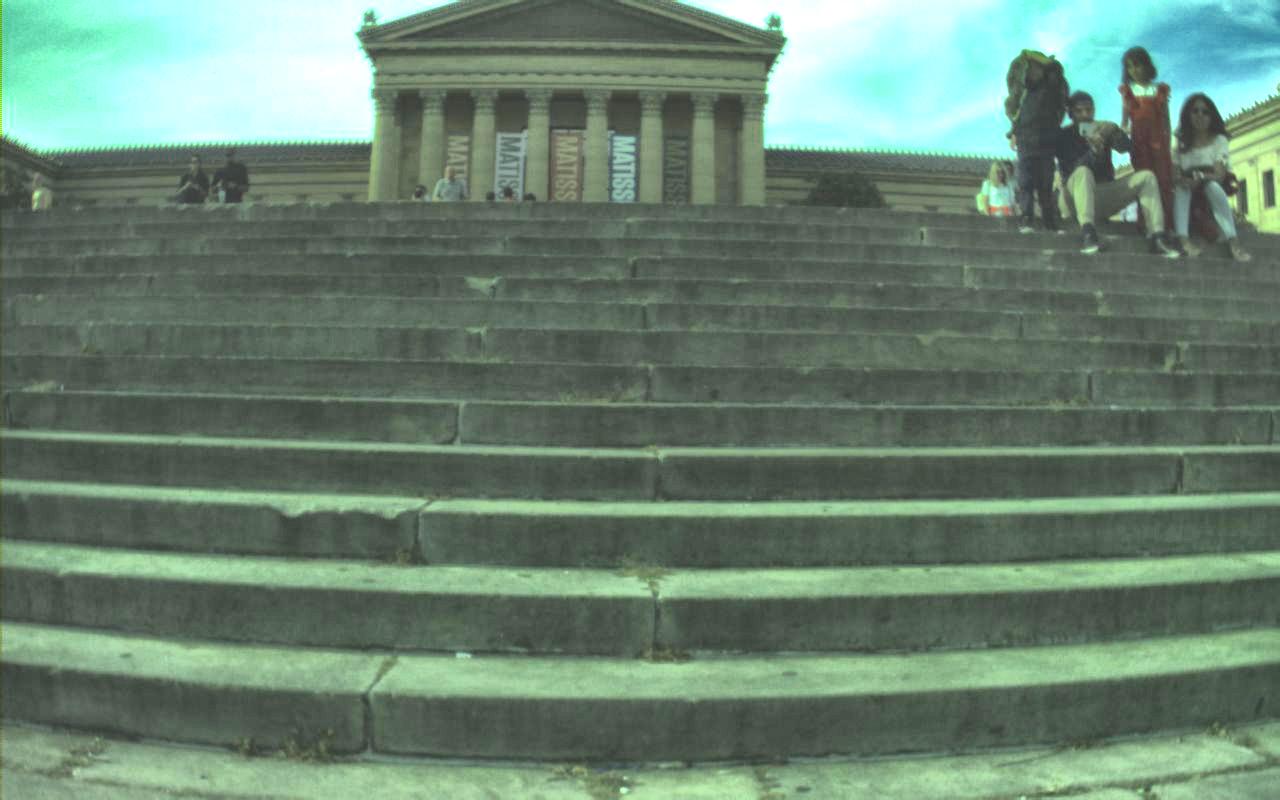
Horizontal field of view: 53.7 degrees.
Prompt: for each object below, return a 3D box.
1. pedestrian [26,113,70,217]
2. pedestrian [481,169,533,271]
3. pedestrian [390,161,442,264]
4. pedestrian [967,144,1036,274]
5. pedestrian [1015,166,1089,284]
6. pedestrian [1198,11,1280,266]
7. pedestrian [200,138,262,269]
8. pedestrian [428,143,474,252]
[{"bbox_3d":[-11.125,-4.327,20.968,0.701,1.872,0.697,0,0,-33],"label":"pedestrian"},{"bbox_3d":[-2.437,-3.291,22.988,0.660,1.793,0.665,1,0,29],"label":"pedestrian"},{"bbox_3d":[-4.027,-3.346,22.239,0.656,1.769,0.646,0,0,-40],"label":"pedestrian"},{"bbox_3d":[5.200,-2.719,17.533,0.805,1.776,0.801,0,0,1],"label":"pedestrian"},{"bbox_3d":[6.264,-2.617,18.318,0.801,1.681,0.812,0,0,-35],"label":"pedestrian"},{"bbox_3d":[4.649,-1.883,8.245,0.702,1.773,0.687,0,0,-20],"label":"pedestrian"},{"bbox_3d":[-5.901,-2.780,17.168,0.763,1.798,0.785,0,0,-26],"label":"pedestrian"},{"bbox_3d":[-3.231,-3.432,21.177,0.658,1.797,0.639,0,0,-17],"label":"pedestrian"}]
